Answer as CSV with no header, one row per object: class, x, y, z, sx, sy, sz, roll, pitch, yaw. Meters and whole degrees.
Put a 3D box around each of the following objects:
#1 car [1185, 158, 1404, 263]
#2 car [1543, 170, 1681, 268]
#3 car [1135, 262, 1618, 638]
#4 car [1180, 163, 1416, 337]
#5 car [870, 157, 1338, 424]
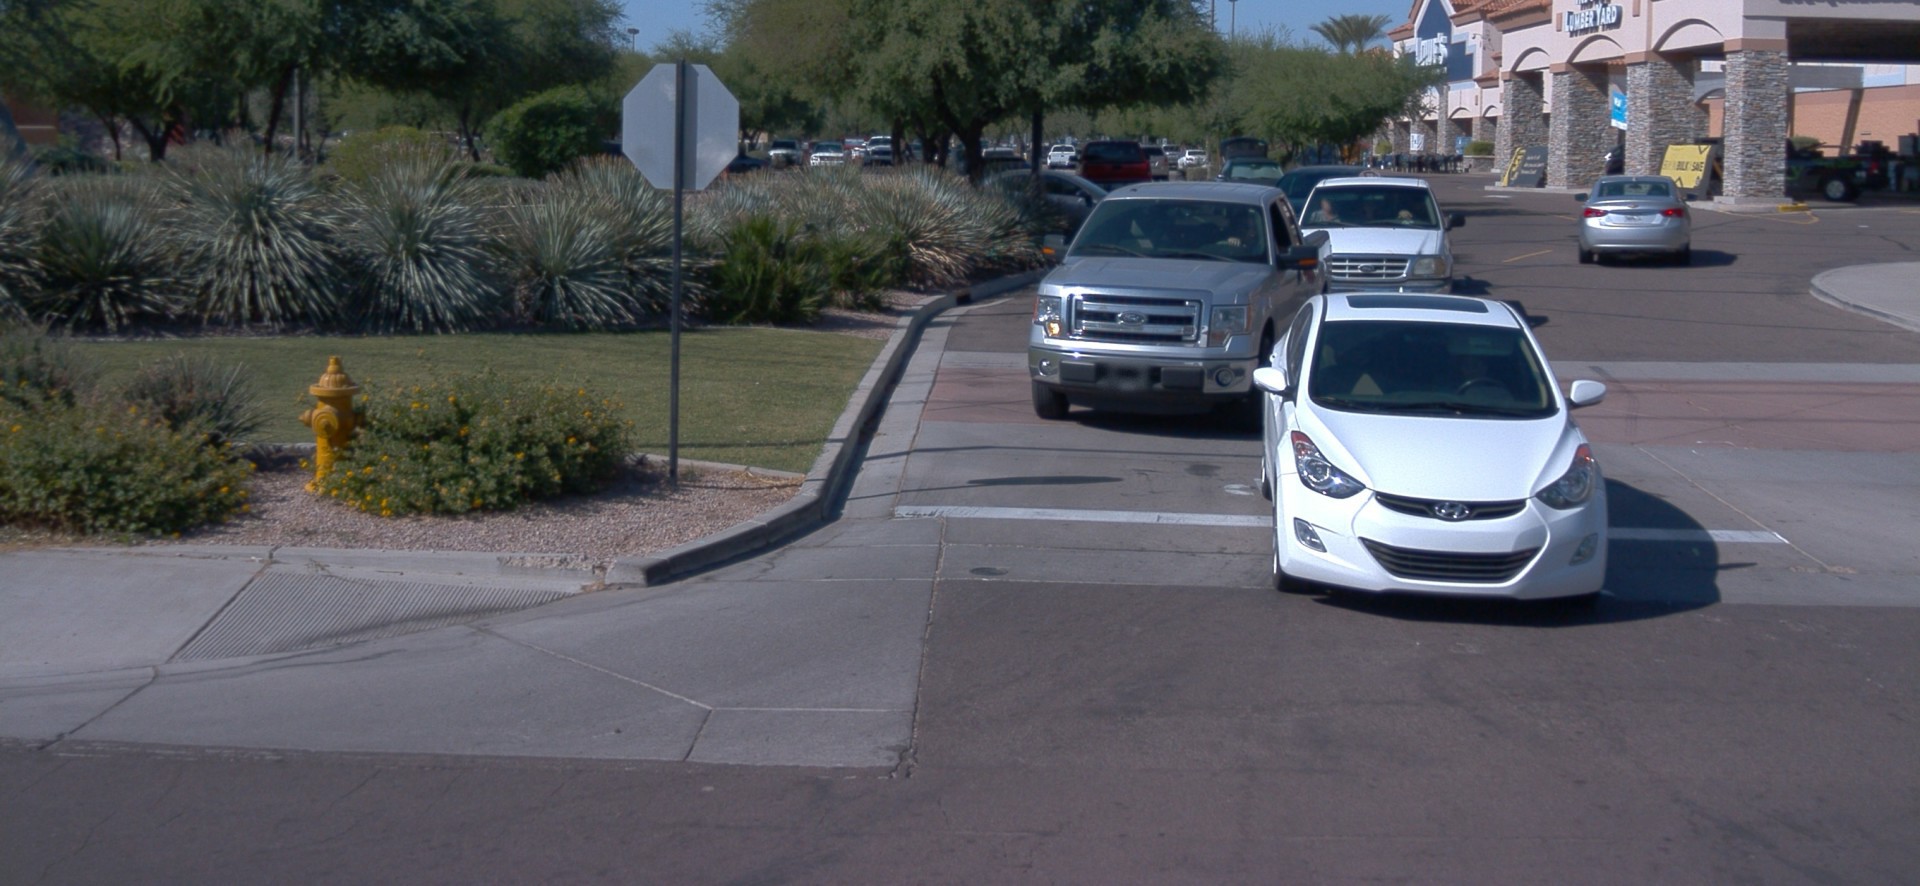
car,6.176,-4.227,37.826,2.382,1.762,5.185,3,6,27
car,11.338,-3.888,36.006,2.116,1.562,4.815,2,6,19
car,2.205,-0.170,11.947,2.204,1.602,4.493,1,6,7
car,4.315,-2.435,25.615,2.463,1.850,6.029,2,6,13
car,1.604,-1.506,18.692,2.766,1.930,6.642,2,6,17
